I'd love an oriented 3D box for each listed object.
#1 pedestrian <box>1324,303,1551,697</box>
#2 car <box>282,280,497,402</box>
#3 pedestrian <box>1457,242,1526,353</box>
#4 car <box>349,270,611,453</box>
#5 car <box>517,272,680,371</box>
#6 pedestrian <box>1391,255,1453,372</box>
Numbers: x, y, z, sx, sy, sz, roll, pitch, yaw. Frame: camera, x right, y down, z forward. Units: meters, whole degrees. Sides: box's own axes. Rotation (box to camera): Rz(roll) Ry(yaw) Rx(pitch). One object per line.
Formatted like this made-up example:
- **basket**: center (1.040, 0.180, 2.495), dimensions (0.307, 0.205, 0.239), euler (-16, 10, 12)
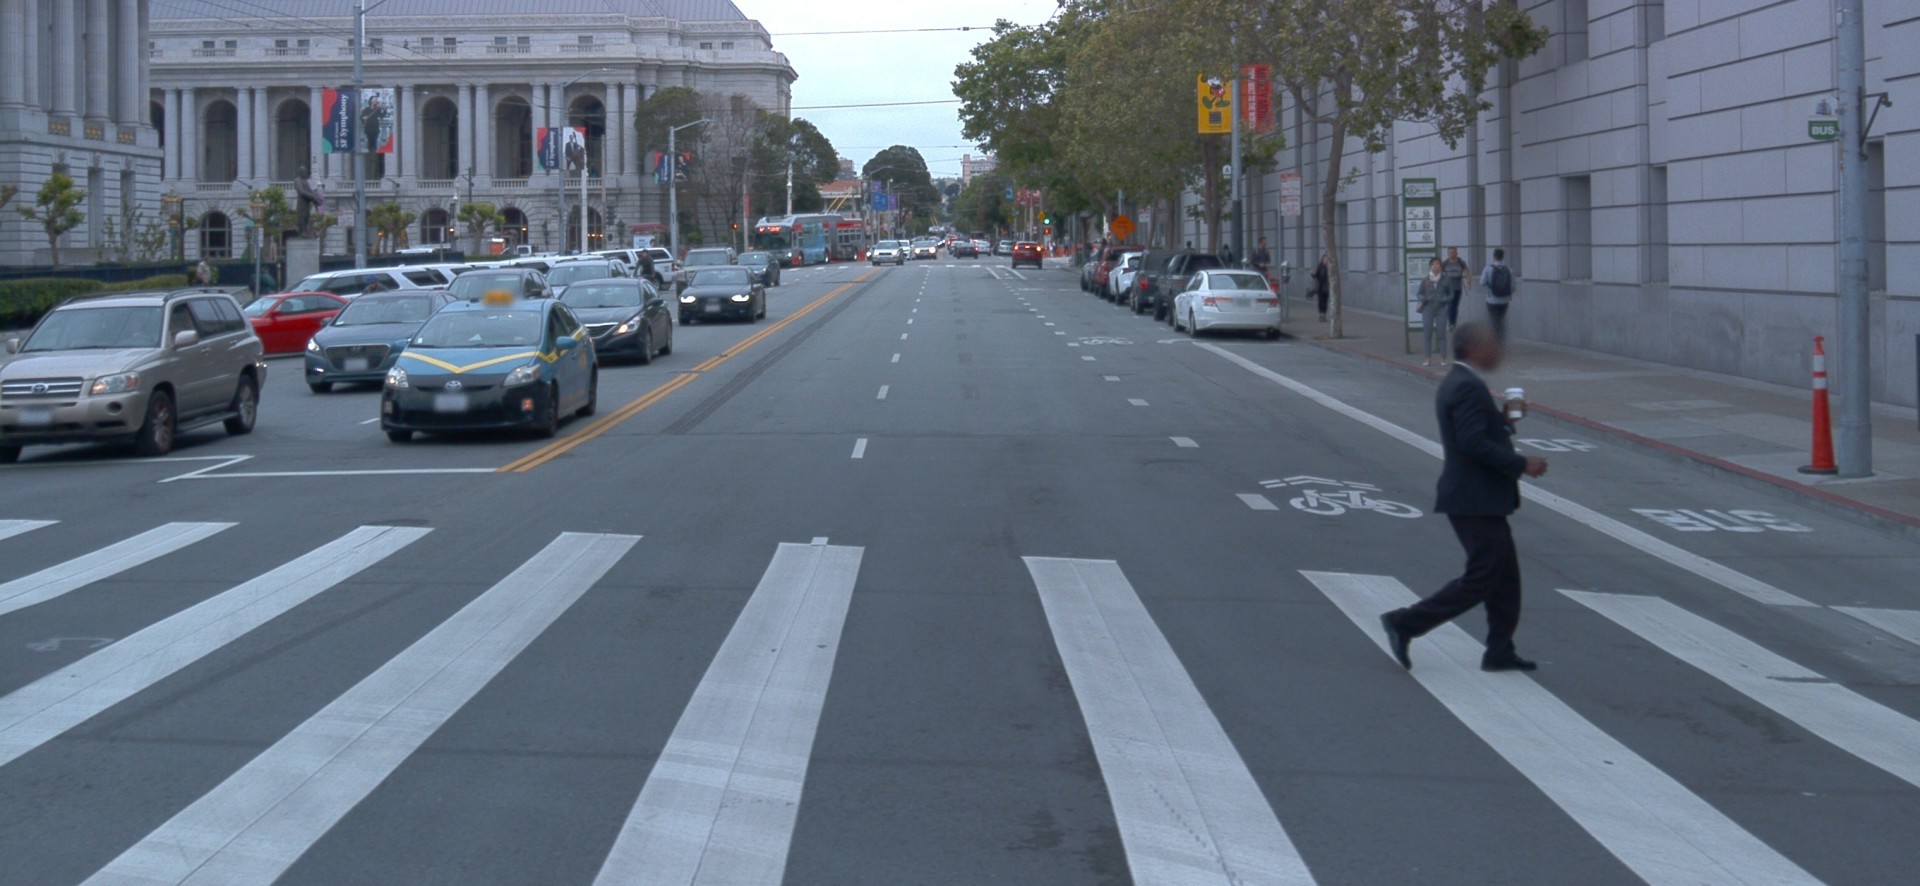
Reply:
- **pedestrian**: center (2.348, 0.245, 10.216), dimensions (0.951, 1.847, 0.813), euler (0, 2, 2)
- **car**: center (-8.723, -1.651, 31.921), dimensions (2.127, 1.619, 4.847), euler (0, 6, -2)
- **pedestrian**: center (8.791, -2.423, 34.057), dimensions (0.875, 1.808, 1.129), euler (0, 2, 2)
- **car**: center (-5.308, -1.026, 23.371), dimensions (2.026, 1.779, 4.380), euler (0, 5, -1)
- **car**: center (-6.174, -2.159, 35.656), dimensions (2.049, 1.505, 4.592), euler (0, 6, 0)
- **pedestrian**: center (7.245, -2.037, 32.227), dimensions (0.850, 1.788, 0.790), euler (1, 2, 19)
